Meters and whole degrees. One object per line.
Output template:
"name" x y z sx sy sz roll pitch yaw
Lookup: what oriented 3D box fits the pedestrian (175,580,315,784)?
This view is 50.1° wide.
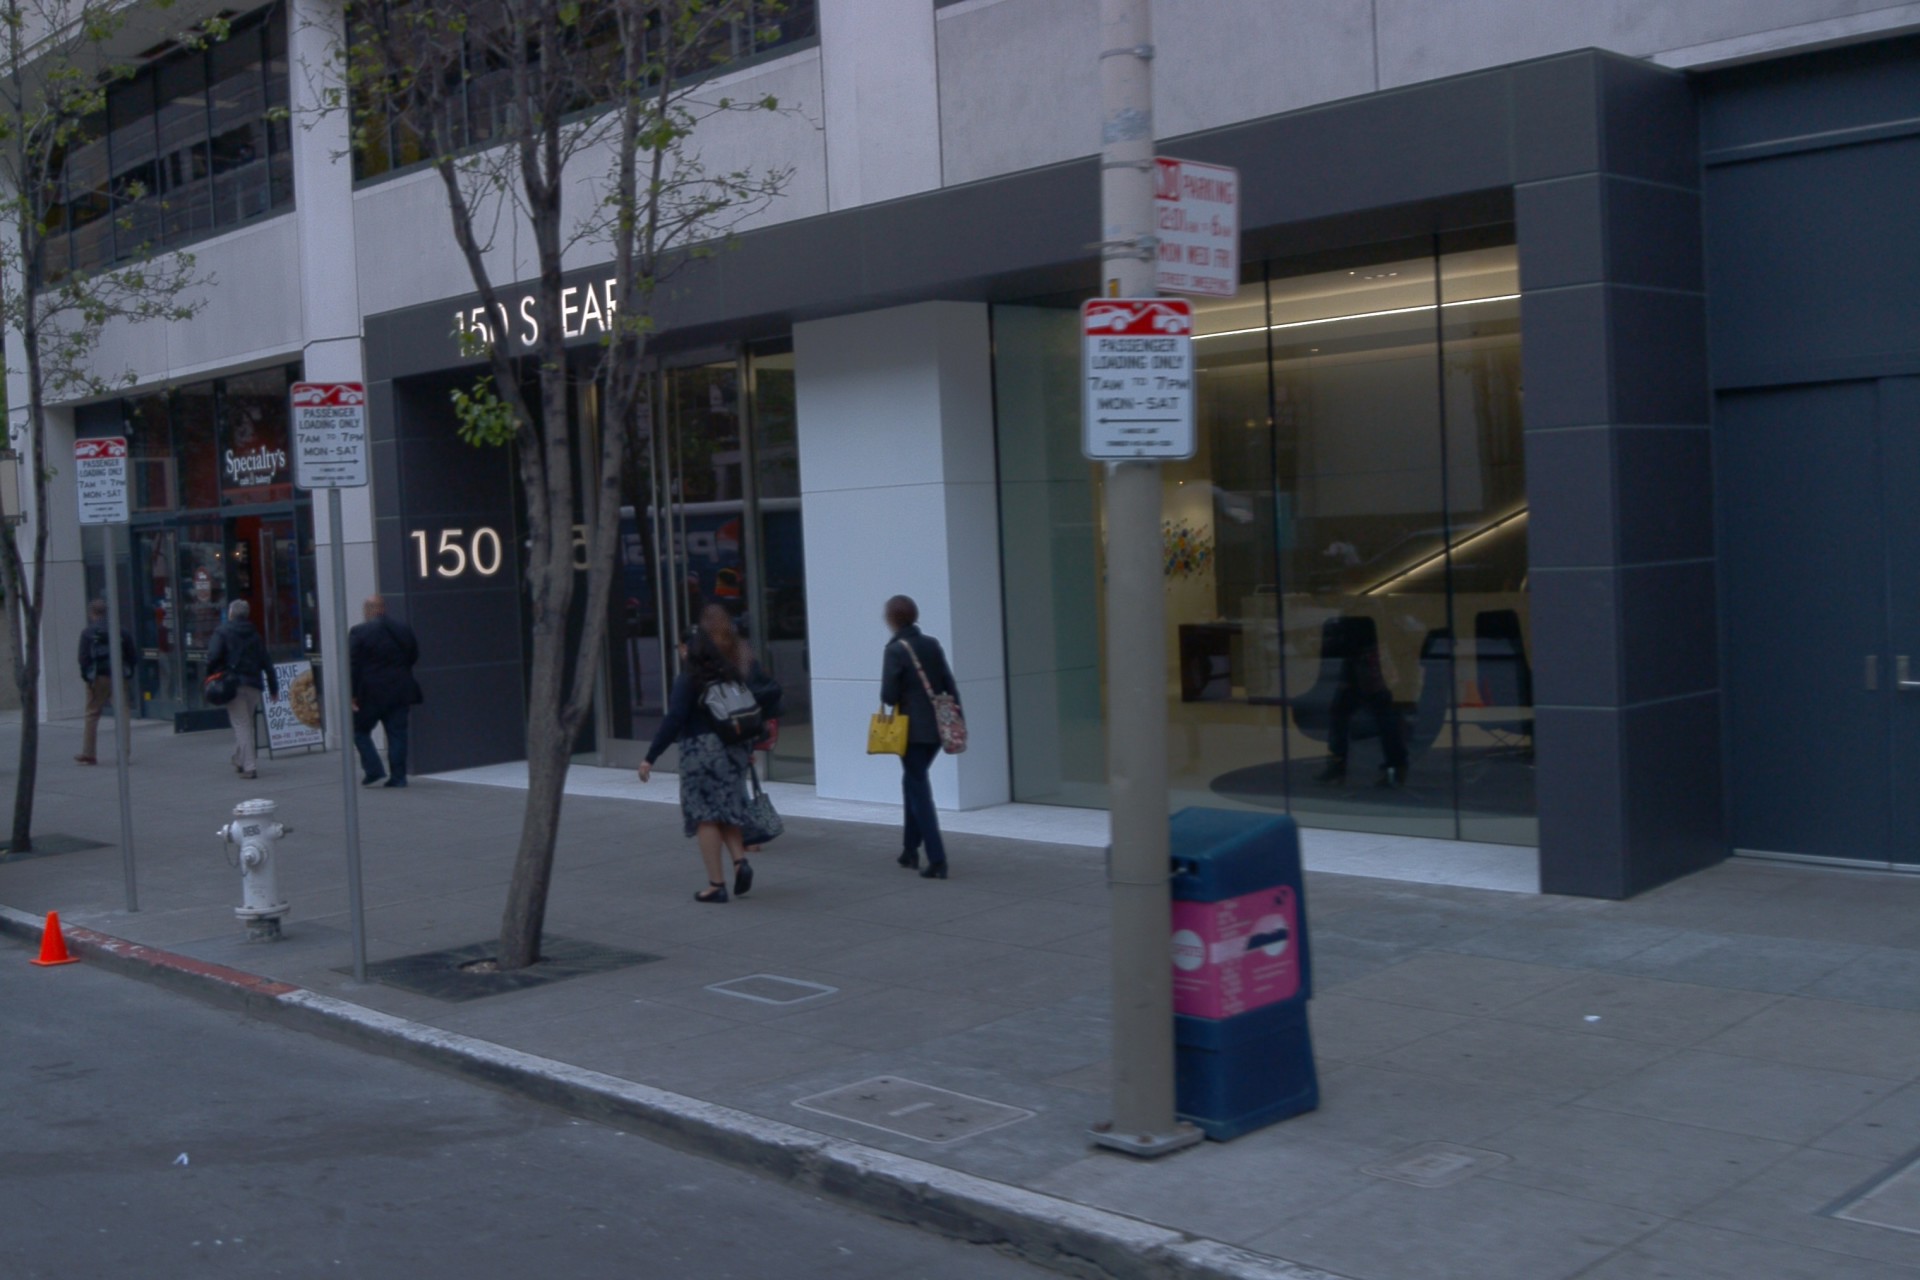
"pedestrian" -6.838 0.381 19.659 0.928 1.880 1.079 0 0 -41

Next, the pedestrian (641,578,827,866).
"pedestrian" -1.500 0.513 13.652 0.918 1.826 0.828 0 0 45

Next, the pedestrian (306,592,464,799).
"pedestrian" -5.089 0.465 18.178 1.117 1.760 0.893 0 0 43

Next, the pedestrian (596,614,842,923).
"pedestrian" -1.394 0.690 11.884 1.006 1.680 0.994 0 0 44

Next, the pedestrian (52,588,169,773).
"pedestrian" -8.881 0.404 21.494 0.992 1.873 0.794 0 0 44

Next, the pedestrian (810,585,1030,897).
"pedestrian" -0.241 0.566 12.316 0.939 1.770 0.919 0 0 -42
